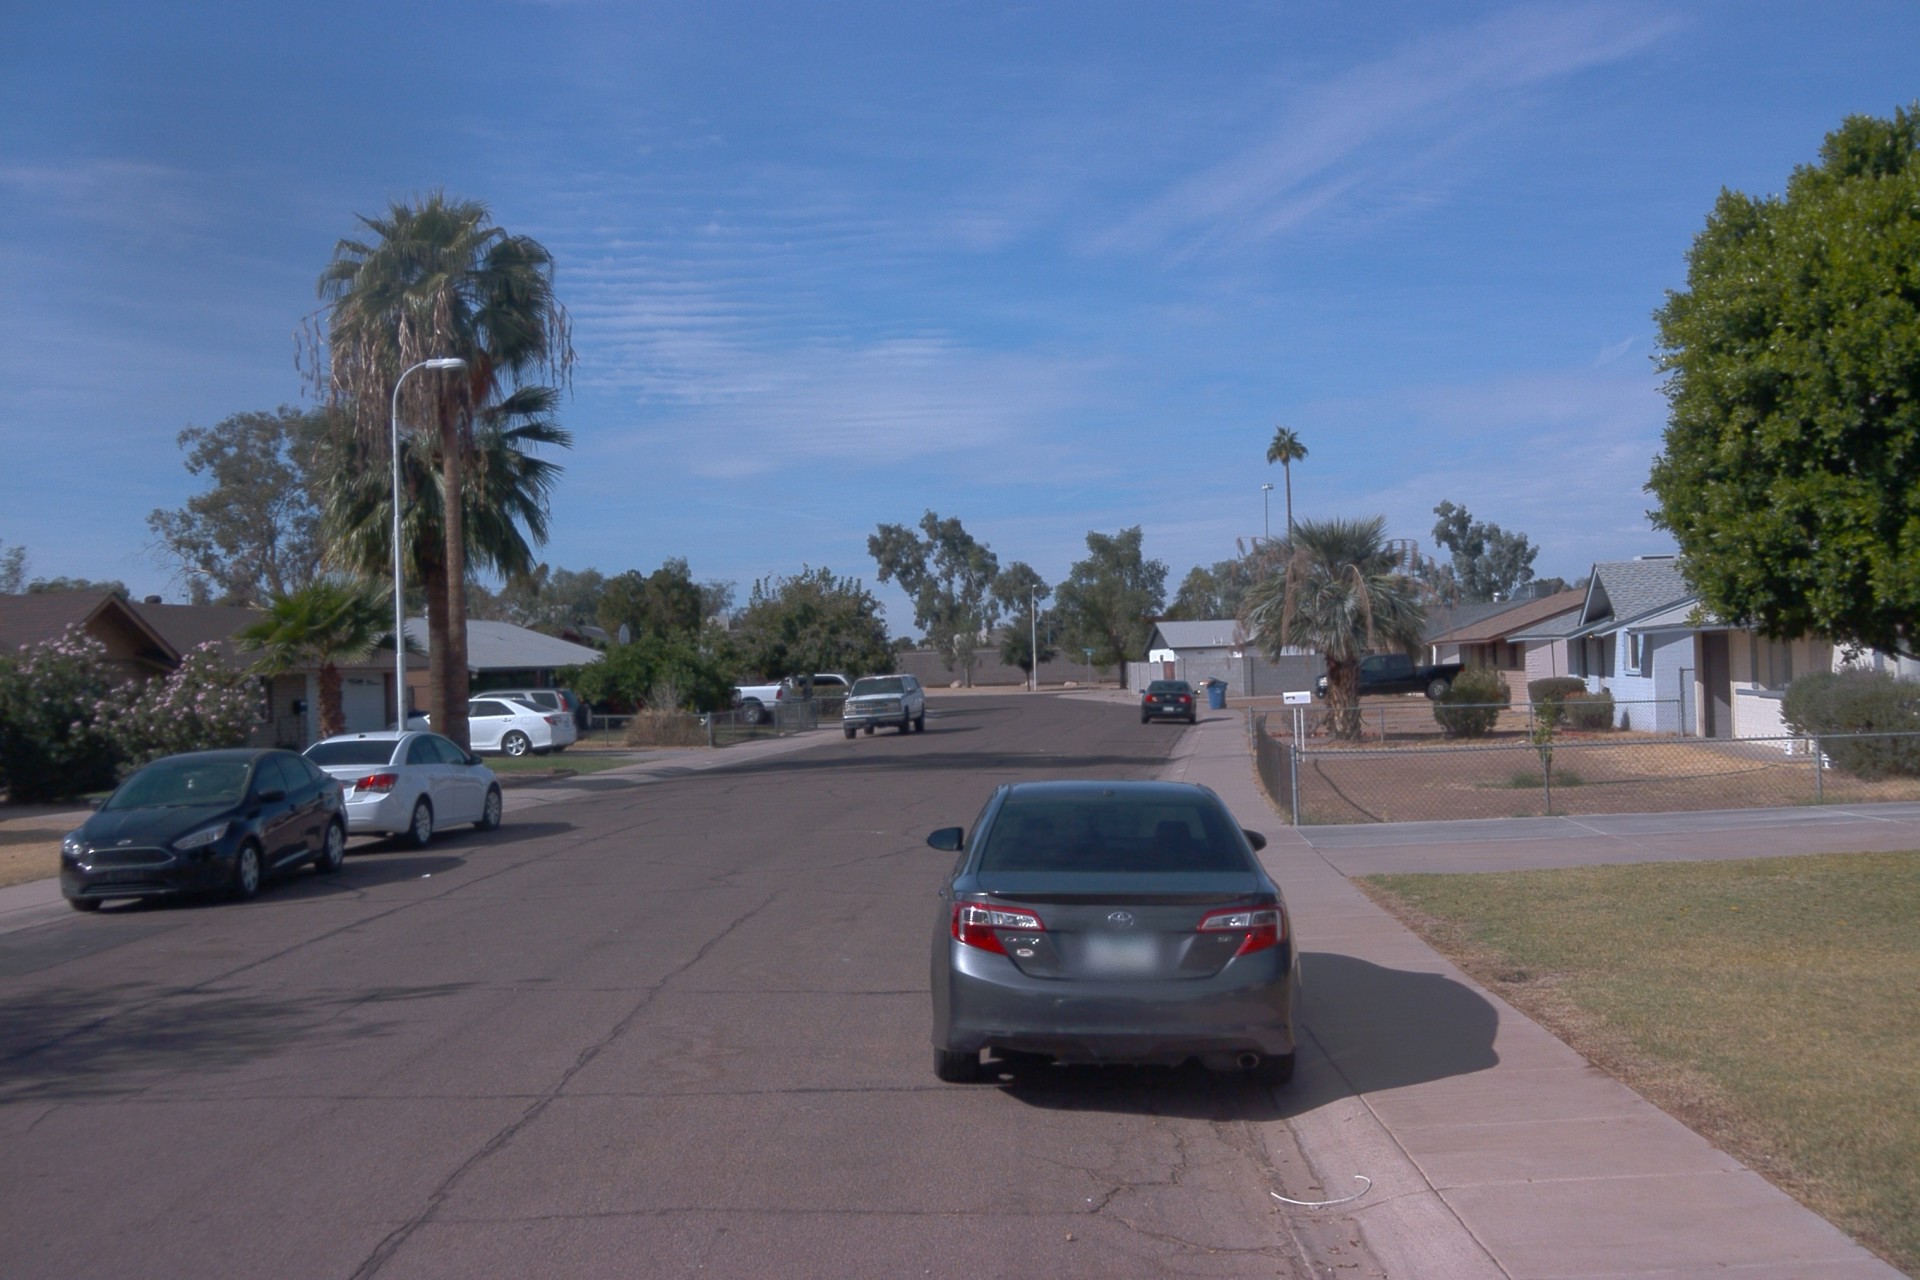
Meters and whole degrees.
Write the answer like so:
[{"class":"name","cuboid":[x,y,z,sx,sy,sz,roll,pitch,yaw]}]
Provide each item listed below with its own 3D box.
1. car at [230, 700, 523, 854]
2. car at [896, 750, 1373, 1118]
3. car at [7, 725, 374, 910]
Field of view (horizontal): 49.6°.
[{"class":"car","cuboid":[-7.480,1.705,27.163,2.079,1.770,4.631,0,-1,7]},{"class":"car","cuboid":[0.808,1.459,11.891,2.150,1.470,5.012,0,-1,1]},{"class":"car","cuboid":[-7.786,1.739,21.564,2.055,1.610,4.523,0,-1,1]}]
